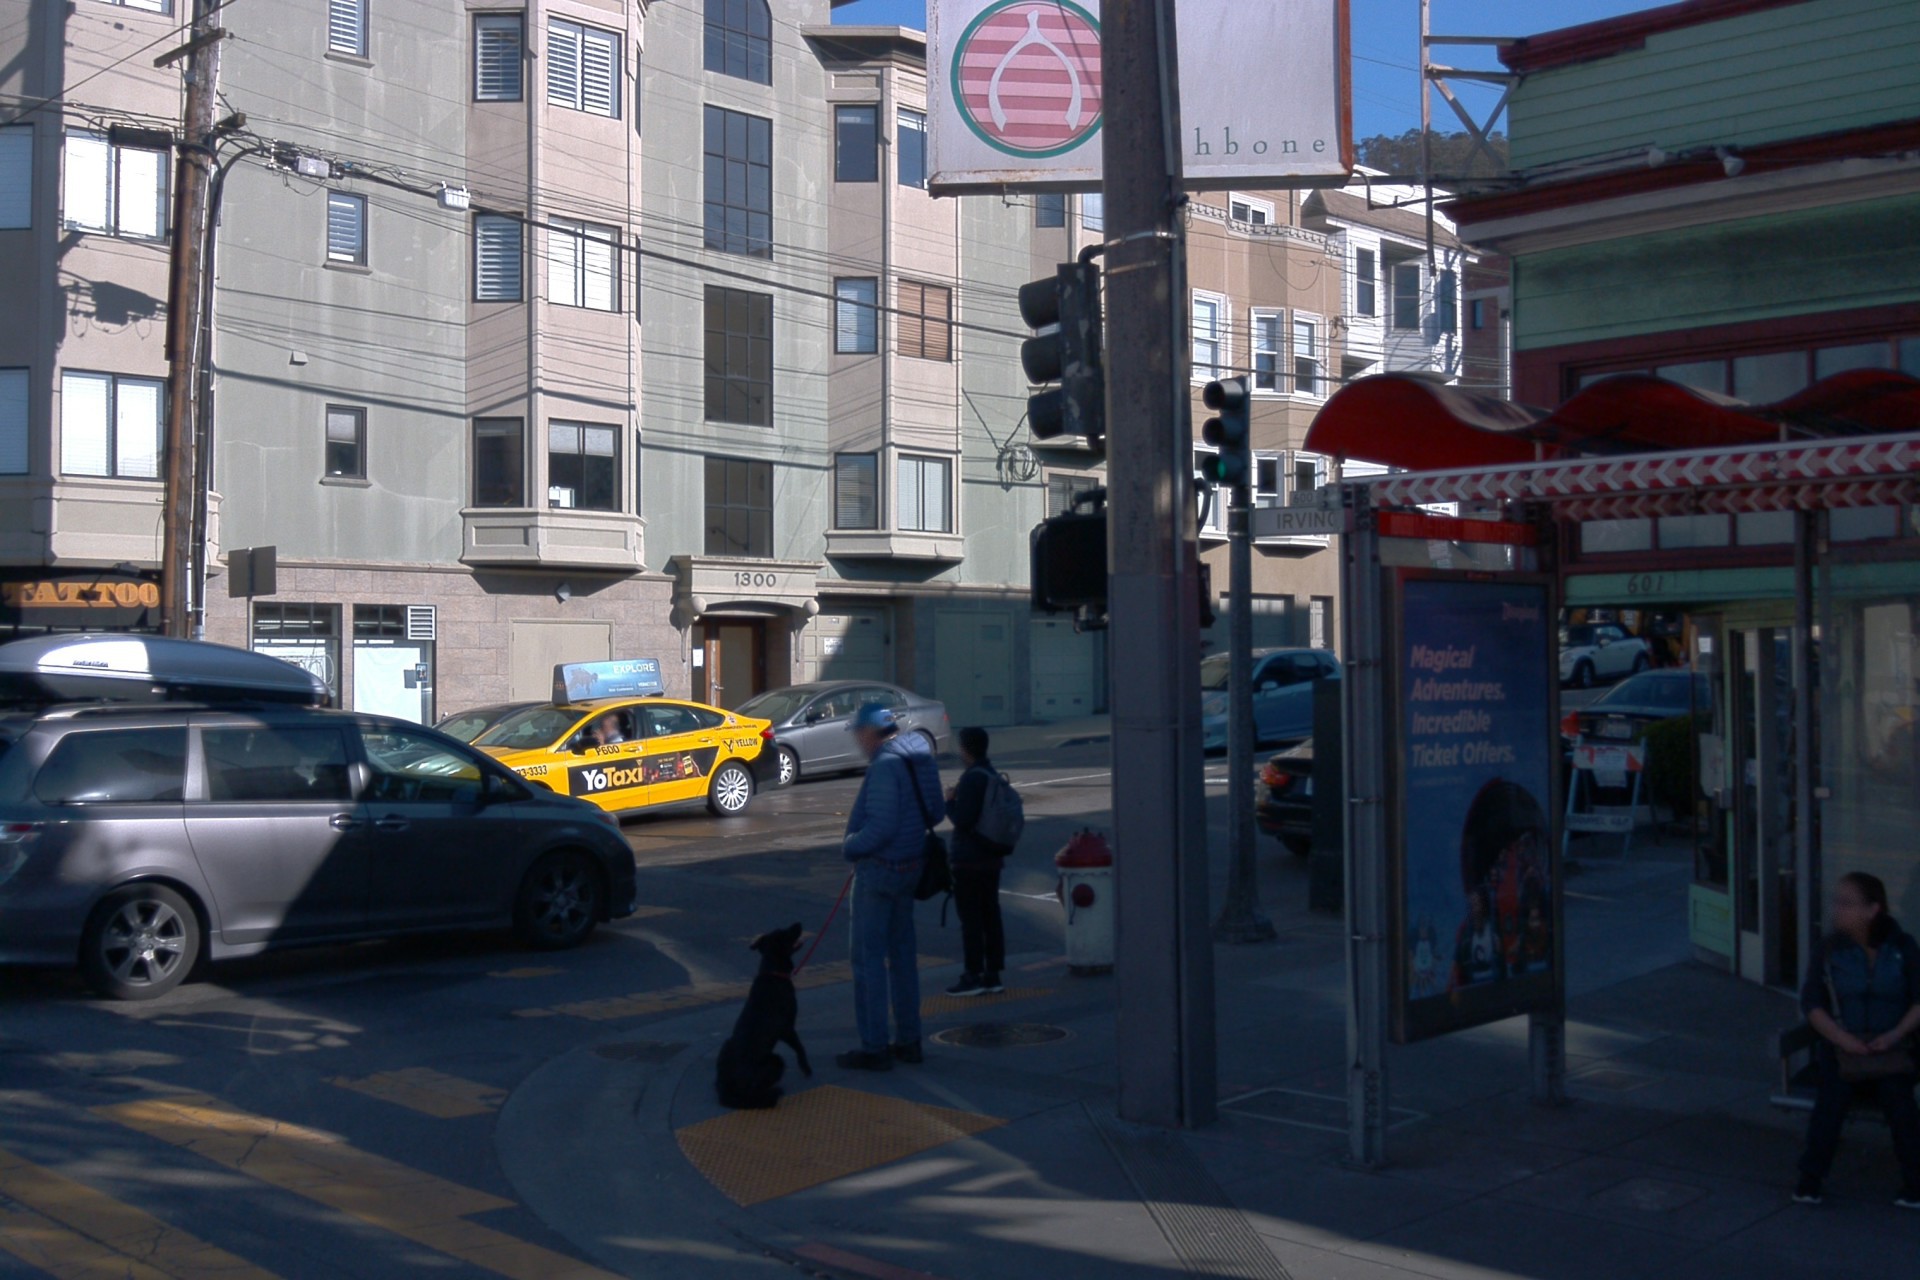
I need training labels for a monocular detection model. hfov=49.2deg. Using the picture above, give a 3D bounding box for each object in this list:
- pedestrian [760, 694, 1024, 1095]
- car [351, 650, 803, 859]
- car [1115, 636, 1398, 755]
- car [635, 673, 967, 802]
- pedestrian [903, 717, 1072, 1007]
[{"bbox_3d":[-0.340,1.215,10.506,0.894,1.860,0.955,1,0,42],"label":"pedestrian"},{"bbox_3d":[-4.221,1.190,23.755,2.070,2.100,4.772,1,0,41],"label":"car"},{"bbox_3d":[4.587,0.813,31.986,4.554,1.680,1.896,1,0,-45],"label":"car"},{"bbox_3d":[-2.214,1.327,30.143,2.102,1.670,4.524,0,0,43],"label":"car"},{"bbox_3d":[0.168,1.345,13.044,0.687,1.700,0.778,0,0,-43],"label":"pedestrian"}]
